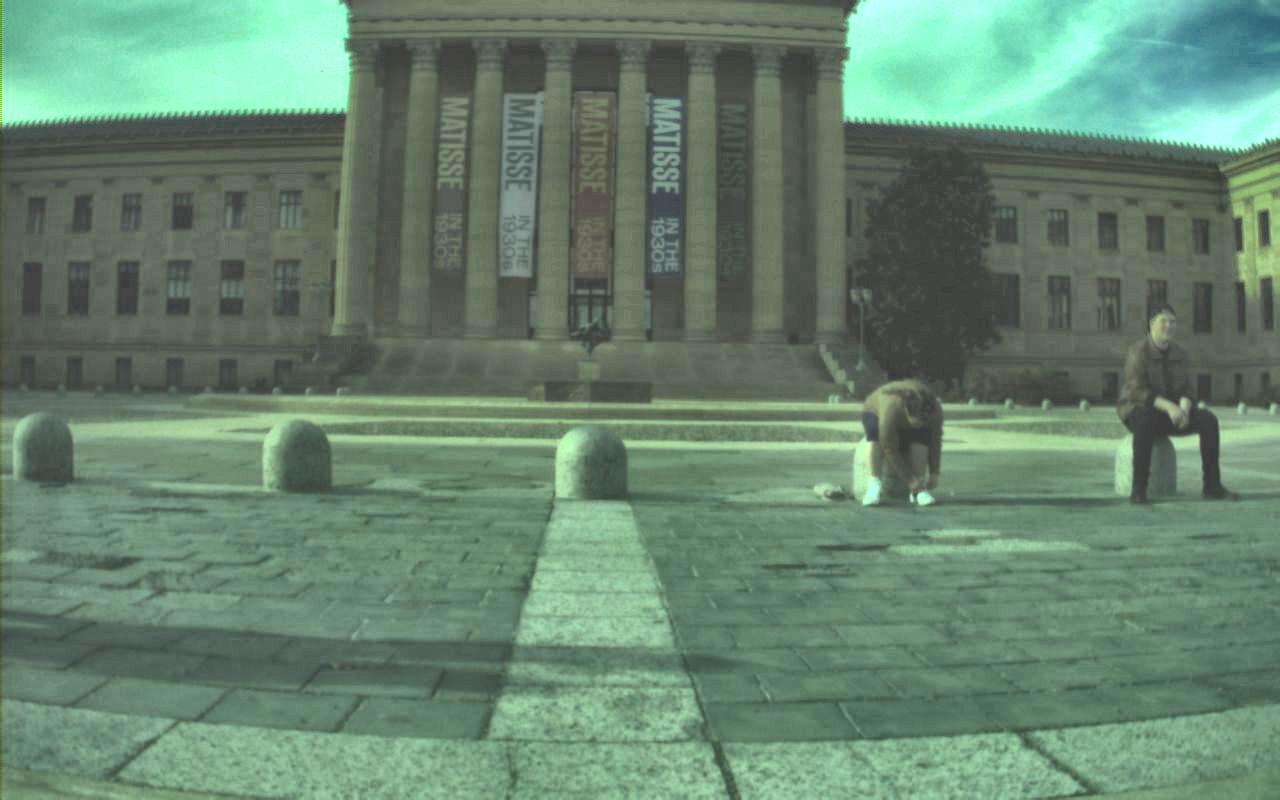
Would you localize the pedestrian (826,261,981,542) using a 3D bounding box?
[{"bbox_3d":[1.635,0.002,7.632,0.671,1.625,0.733,1,0,42],"label":"pedestrian"}]

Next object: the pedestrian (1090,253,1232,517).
[{"bbox_3d":[3.528,-0.092,7.908,0.717,1.682,0.728,0,0,-32],"label":"pedestrian"}]
